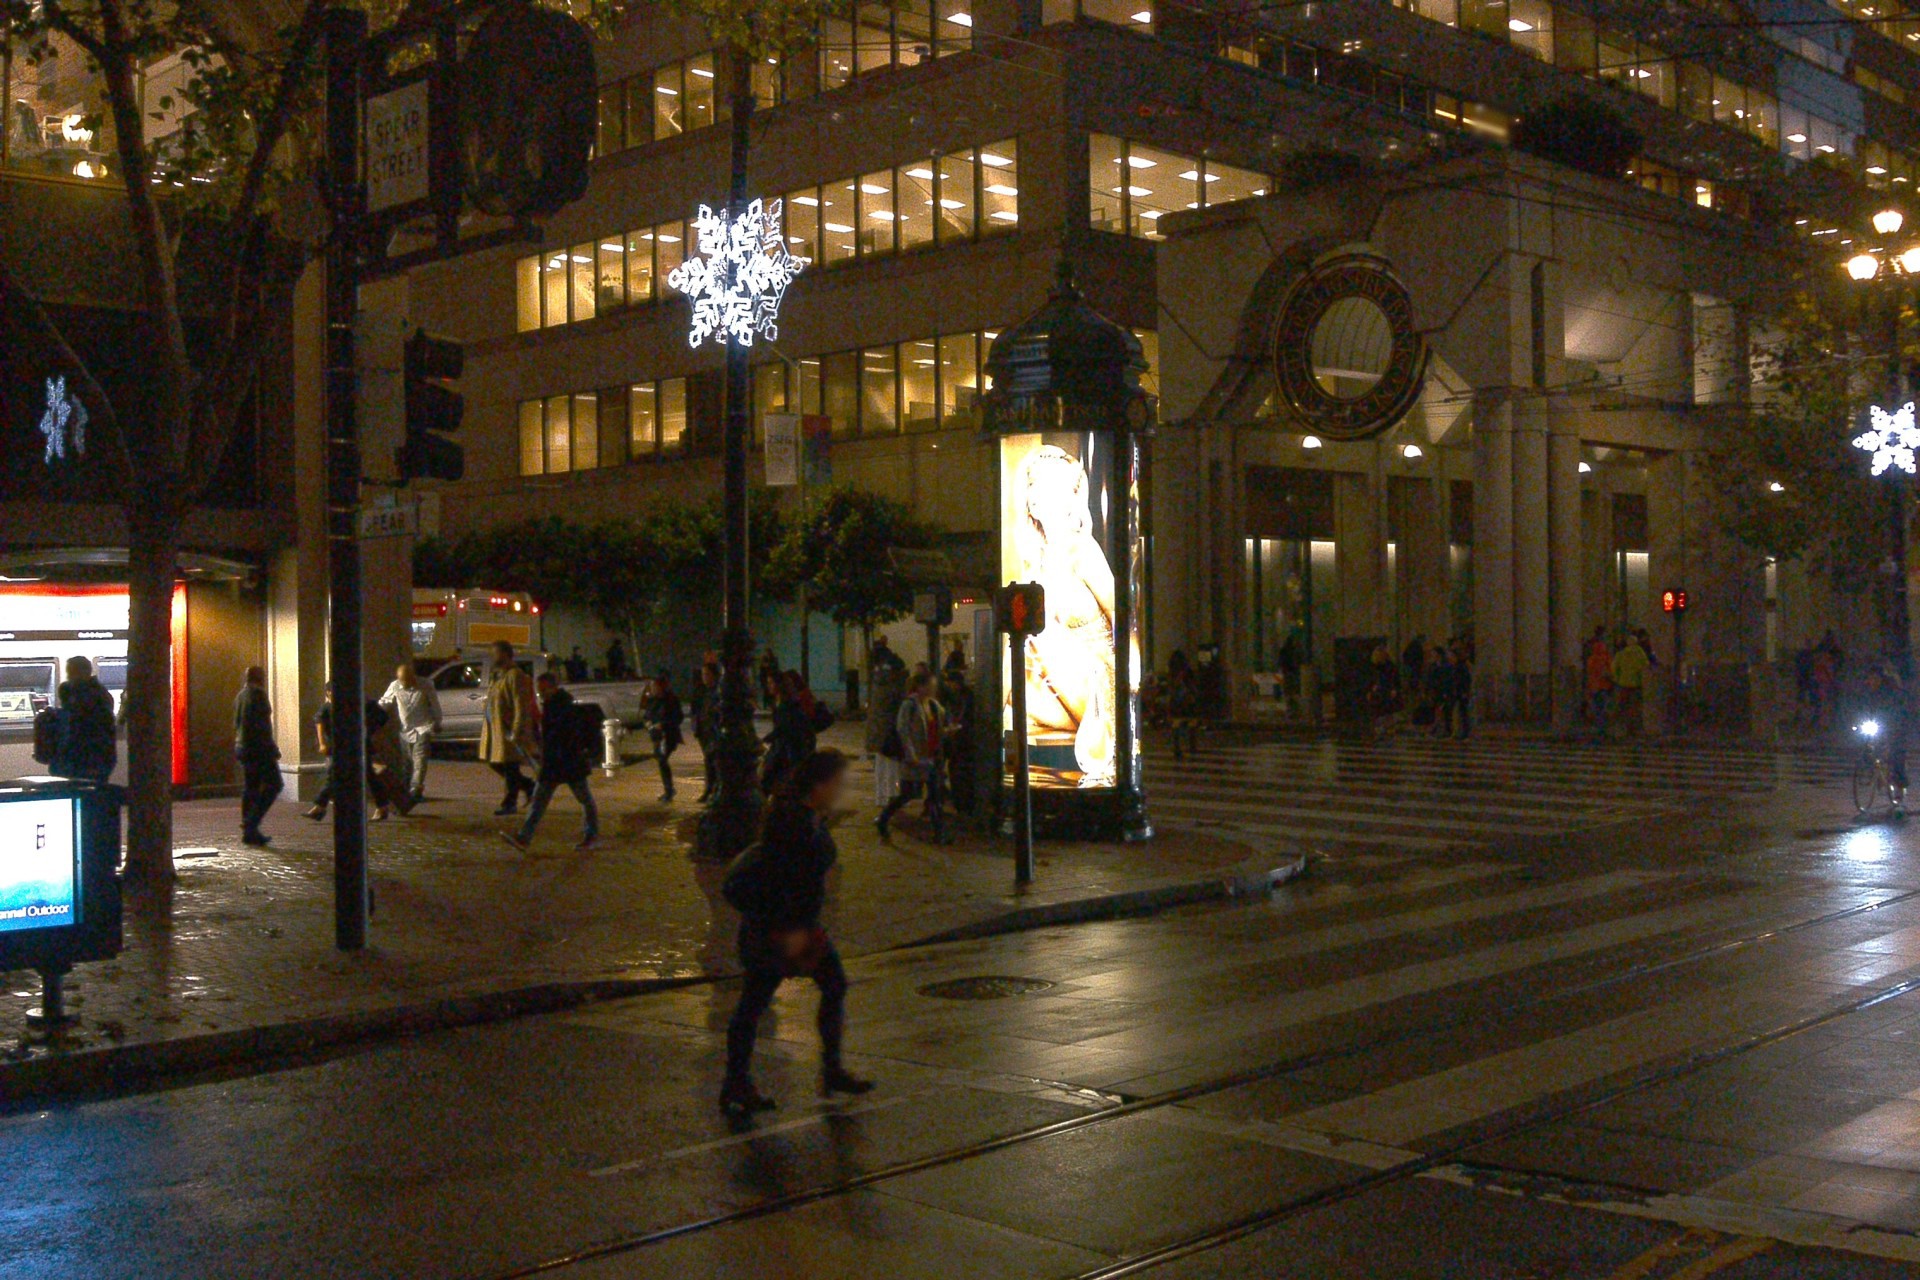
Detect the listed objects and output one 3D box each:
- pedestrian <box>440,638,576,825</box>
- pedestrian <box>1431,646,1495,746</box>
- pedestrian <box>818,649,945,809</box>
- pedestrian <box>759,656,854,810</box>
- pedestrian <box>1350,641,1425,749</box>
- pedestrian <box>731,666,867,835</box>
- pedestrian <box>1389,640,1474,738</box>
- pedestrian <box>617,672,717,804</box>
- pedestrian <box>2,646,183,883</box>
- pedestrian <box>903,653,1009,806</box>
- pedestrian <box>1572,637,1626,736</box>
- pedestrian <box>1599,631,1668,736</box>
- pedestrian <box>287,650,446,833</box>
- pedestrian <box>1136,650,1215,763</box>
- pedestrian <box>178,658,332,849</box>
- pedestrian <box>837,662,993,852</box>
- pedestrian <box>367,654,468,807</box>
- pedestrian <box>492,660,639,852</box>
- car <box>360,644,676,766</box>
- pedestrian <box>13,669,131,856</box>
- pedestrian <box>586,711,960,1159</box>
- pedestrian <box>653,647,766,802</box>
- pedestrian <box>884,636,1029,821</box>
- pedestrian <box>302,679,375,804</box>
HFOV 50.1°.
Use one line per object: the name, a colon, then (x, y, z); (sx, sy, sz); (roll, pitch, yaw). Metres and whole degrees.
pedestrian: (-4.807, 0.943, 21.855); (1.058, 1.900, 0.963); (-1, 1, -44)
pedestrian: (8.858, 0.969, 36.186); (0.998, 1.720, 0.657); (-1, 1, -43)
pedestrian: (-0.892, 0.982, 23.288); (1.120, 1.720, 0.908); (-1, 1, -38)
pedestrian: (-1.884, 1.126, 25.234); (0.842, 1.820, 0.812); (1, 1, 41)
pedestrian: (7.267, 0.926, 34.922); (0.860, 1.780, 0.987); (1, 1, 43)
pedestrian: (-1.639, 1.093, 20.863); (1.083, 1.620, 0.886); (-1, 1, -34)
pedestrian: (8.417, 0.861, 36.635); (0.876, 1.680, 1.397); (1, 1, 44)
pedestrian: (-3.481, 1.144, 24.422); (0.776, 1.500, 0.879); (1, 1, 35)
pedestrian: (-7.137, 0.986, 16.911); (1.161, 1.850, 0.837); (-1, 1, -40)
pedestrian: (-0.050, 1.091, 25.459); (0.978, 1.820, 0.866); (-1, 1, -45)
pedestrian: (11.422, 0.815, 36.697); (0.628, 1.730, 0.934); (1, 1, 38)
pedestrian: (11.816, 0.749, 36.026); (0.780, 1.780, 1.045); (1, 1, 42)
pedestrian: (-6.092, 1.004, 21.083); (1.284, 1.770, 1.035); (-1, 1, -37)
pedestrian: (3.363, 1.020, 32.099); (0.806, 1.710, 0.985); (1, 1, 41)
pedestrian: (-6.597, 1.030, 19.217); (1.067, 1.690, 0.925); (-1, 1, -43)
pedestrian: (-0.424, 1.080, 19.571); (1.116, 1.700, 0.977); (1, 1, 36)
pedestrian: (-6.072, 1.002, 23.018); (0.883, 1.670, 0.697); (0, 1, 8)
pedestrian: (-3.567, 1.022, 18.619); (0.699, 1.650, 1.101); (1, 1, 41)
car: (-7.401, 1.073, 34.749); (4.910, 1.960, 1.934); (0, 1, 0)
pedestrian: (-7.991, 1.076, 18.474); (0.894, 1.600, 0.763); (-1, 1, -29)
pedestrian: (-0.817, 1.232, 9.174); (1.222, 1.750, 1.142); (1, 1, 30)
pedestrian: (-2.906, 0.953, 23.820); (0.843, 1.730, 0.988); (1, 1, 44)
pedestrian: (-0.032, 0.931, 22.326); (1.418, 1.920, 0.742); (-1, 1, -38)
pedestrian: (-6.911, 1.123, 22.865); (0.632, 1.350, 0.647); (0, 1, -4)
